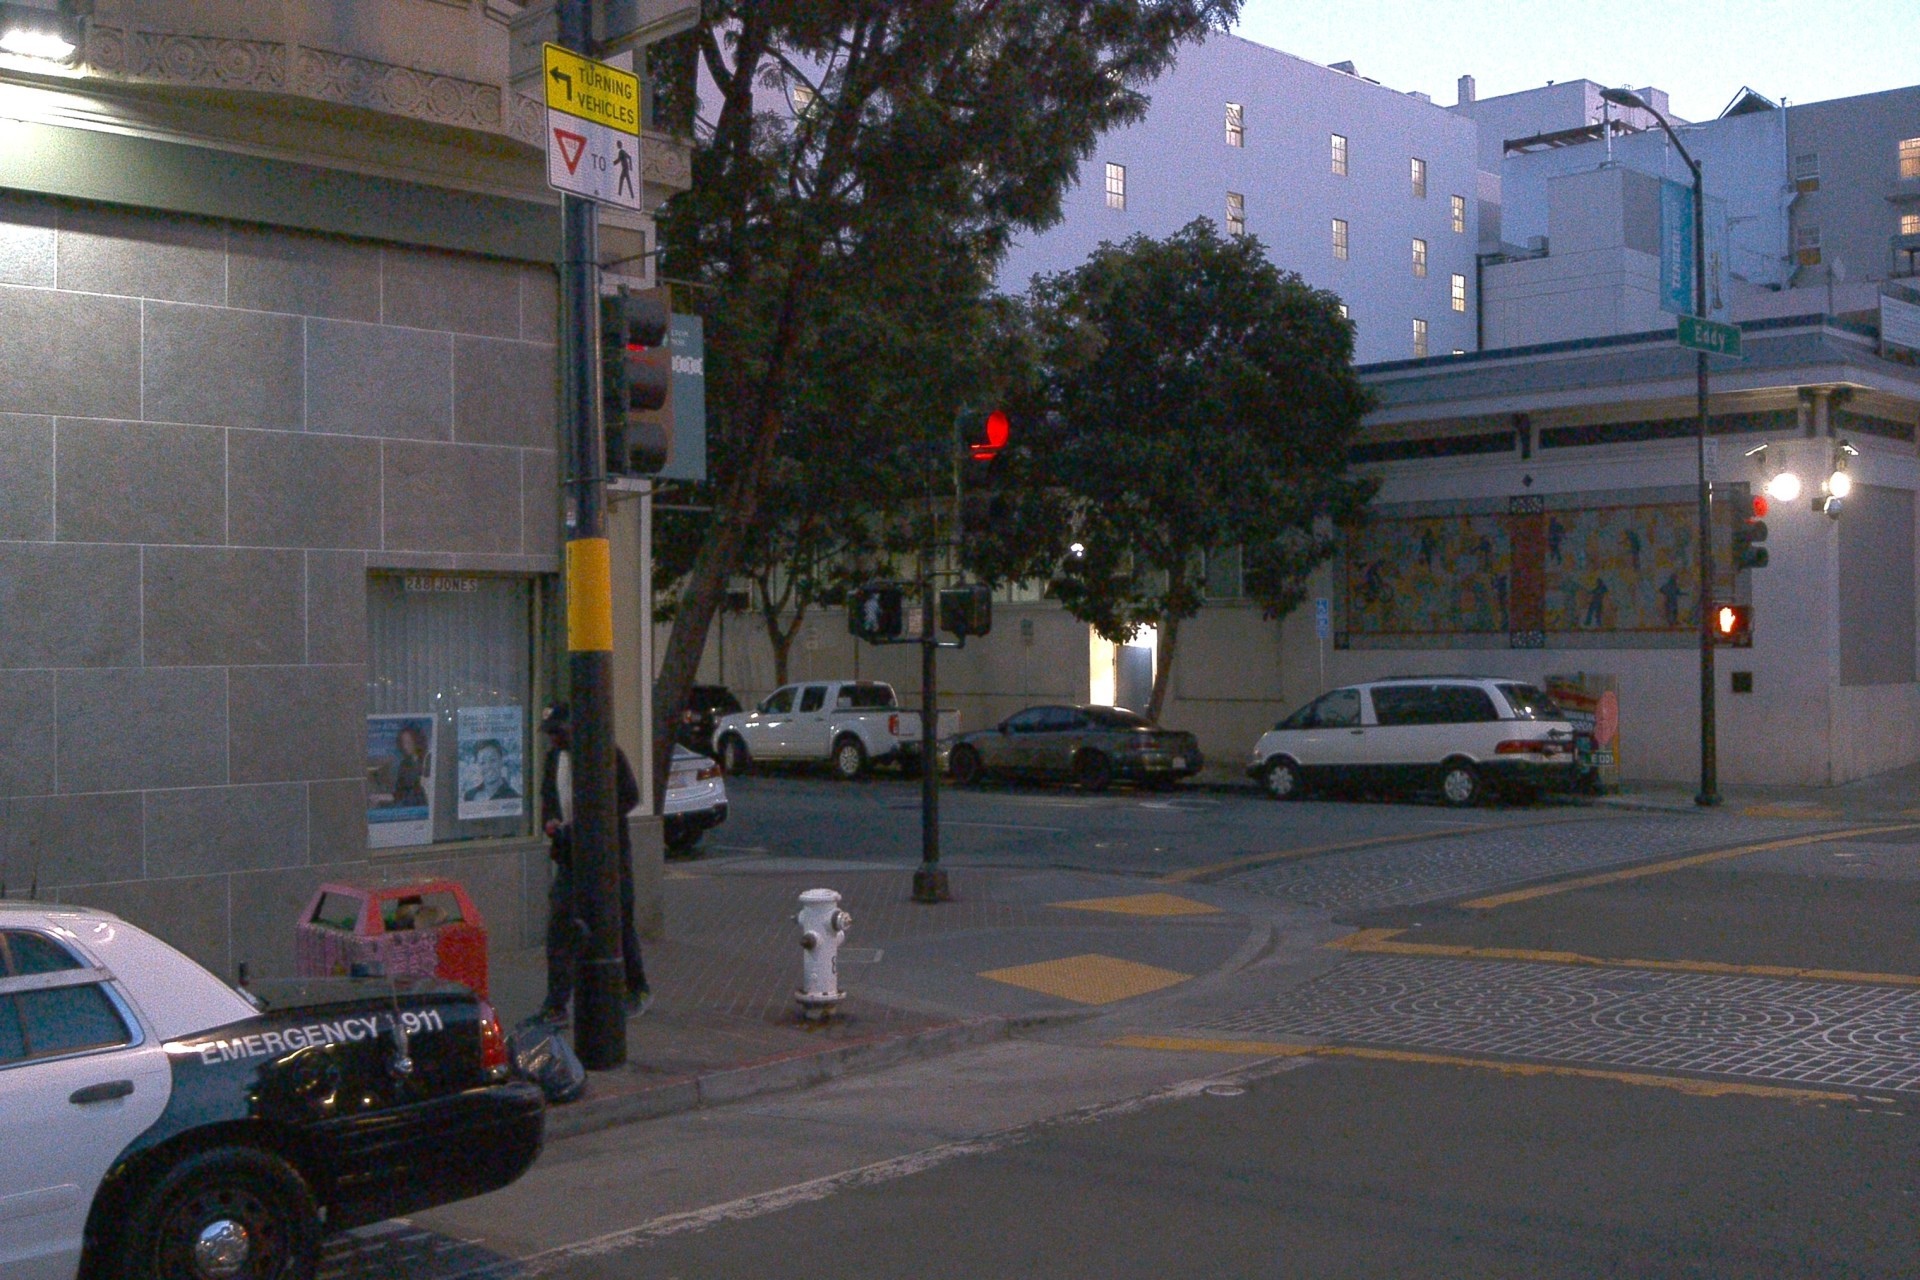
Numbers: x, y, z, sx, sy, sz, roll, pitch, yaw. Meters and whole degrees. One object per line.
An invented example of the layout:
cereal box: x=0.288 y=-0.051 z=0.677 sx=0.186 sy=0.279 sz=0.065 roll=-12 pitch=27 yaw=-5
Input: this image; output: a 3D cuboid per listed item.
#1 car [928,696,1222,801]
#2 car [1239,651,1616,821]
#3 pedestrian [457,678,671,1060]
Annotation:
car: x=1.804 y=1.714 z=33.700 sx=1.916 sy=1.390 sz=4.727 roll=-1 pitch=1 yaw=-45
car: x=6.458 y=1.249 z=28.908 sx=4.809 sy=2.080 sz=2.006 roll=1 pitch=1 yaw=44
pedestrian: x=-2.238 y=1.232 z=11.635 sx=0.872 sy=1.990 sz=0.975 roll=-1 pitch=1 yaw=-33
